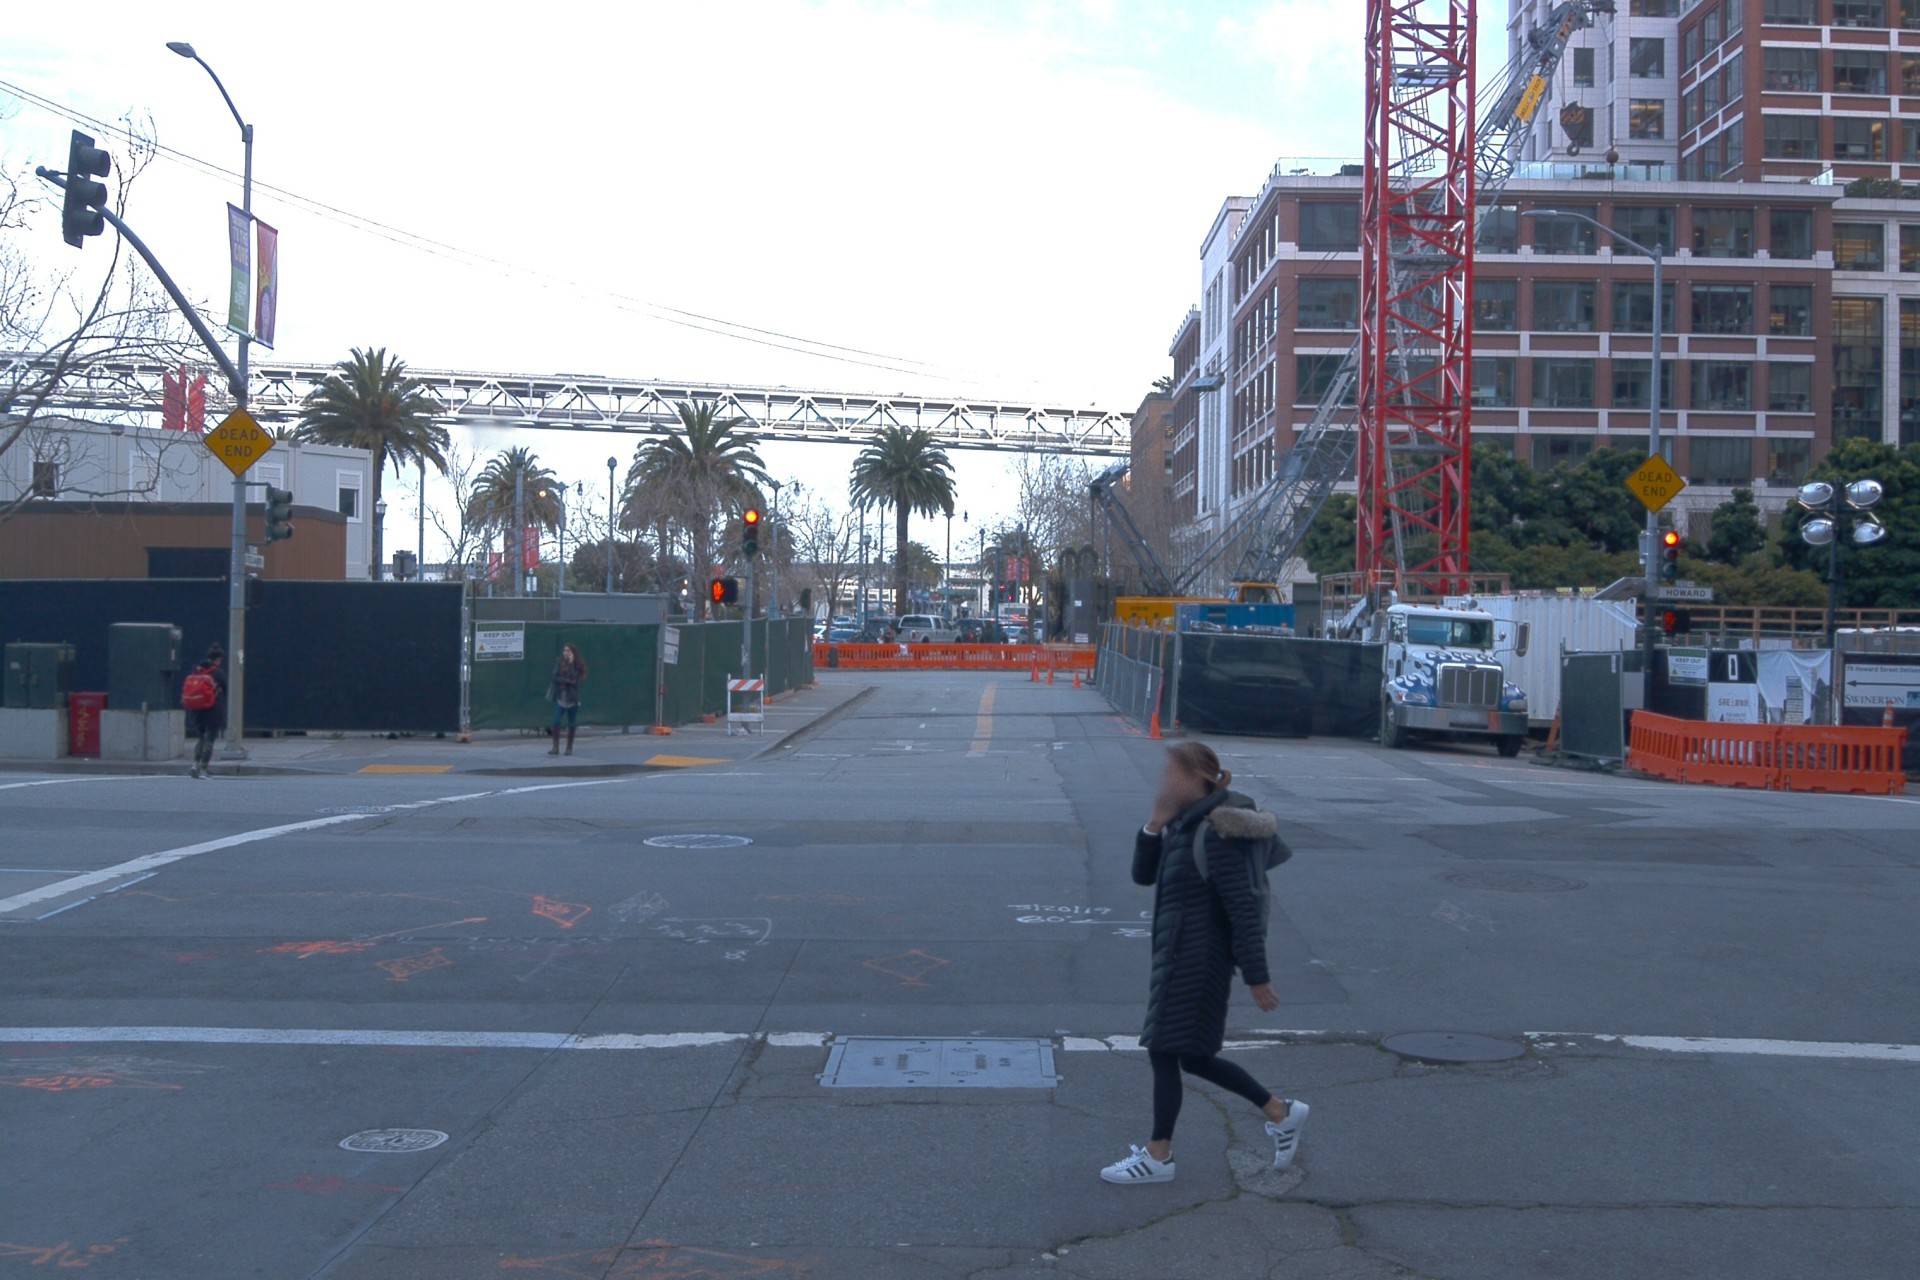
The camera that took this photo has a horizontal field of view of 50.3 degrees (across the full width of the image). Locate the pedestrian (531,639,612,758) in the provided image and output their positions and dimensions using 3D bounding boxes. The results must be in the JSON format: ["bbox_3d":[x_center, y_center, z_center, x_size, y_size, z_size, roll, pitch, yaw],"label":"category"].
[{"bbox_3d":[-5.740,0.845,30.268,0.847,1.720,1.092,1,0,9],"label":"pedestrian"}]

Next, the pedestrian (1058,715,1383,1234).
[{"bbox_3d":[0.949,1.209,7.696,1.087,1.810,0.806,1,0,-1],"label":"pedestrian"}]

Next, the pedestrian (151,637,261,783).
[{"bbox_3d":[-9.348,0.850,25.387,0.771,1.760,1.197,1,0,11],"label":"pedestrian"}]
